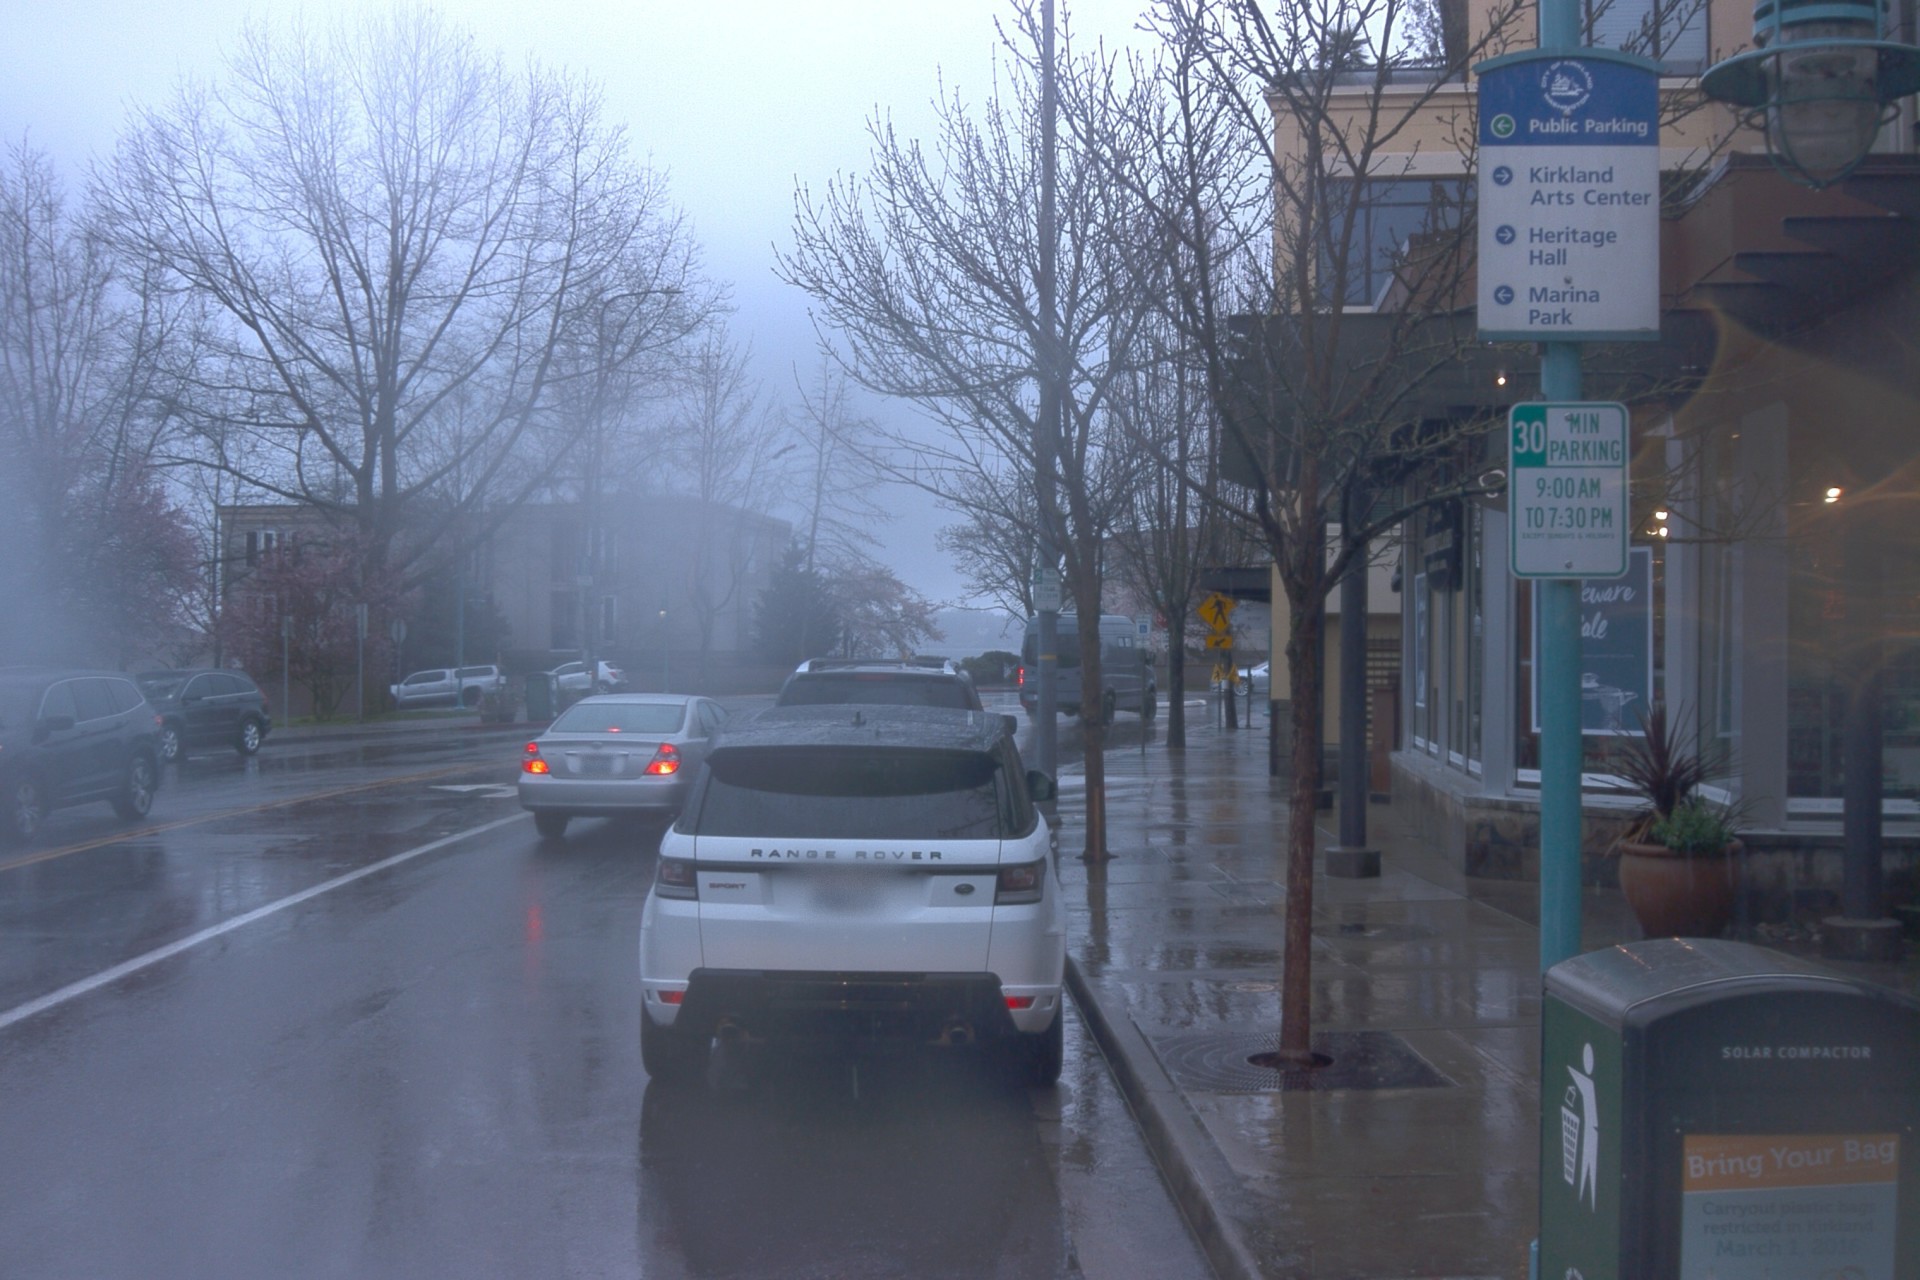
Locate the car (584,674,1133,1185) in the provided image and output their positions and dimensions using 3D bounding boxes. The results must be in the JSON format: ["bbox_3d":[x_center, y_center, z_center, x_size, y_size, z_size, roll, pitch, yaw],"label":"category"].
[{"bbox_3d":[-0.520,1.262,11.131,2.265,2.000,5.125,1,0,-2],"label":"car"}]

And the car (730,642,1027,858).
[{"bbox_3d":[-0.713,0.834,17.965,2.210,1.560,5.097,1,0,-2],"label":"car"}]

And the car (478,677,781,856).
[{"bbox_3d":[-3.430,1.268,22.268,2.047,1.580,4.851,1,0,6],"label":"car"}]
